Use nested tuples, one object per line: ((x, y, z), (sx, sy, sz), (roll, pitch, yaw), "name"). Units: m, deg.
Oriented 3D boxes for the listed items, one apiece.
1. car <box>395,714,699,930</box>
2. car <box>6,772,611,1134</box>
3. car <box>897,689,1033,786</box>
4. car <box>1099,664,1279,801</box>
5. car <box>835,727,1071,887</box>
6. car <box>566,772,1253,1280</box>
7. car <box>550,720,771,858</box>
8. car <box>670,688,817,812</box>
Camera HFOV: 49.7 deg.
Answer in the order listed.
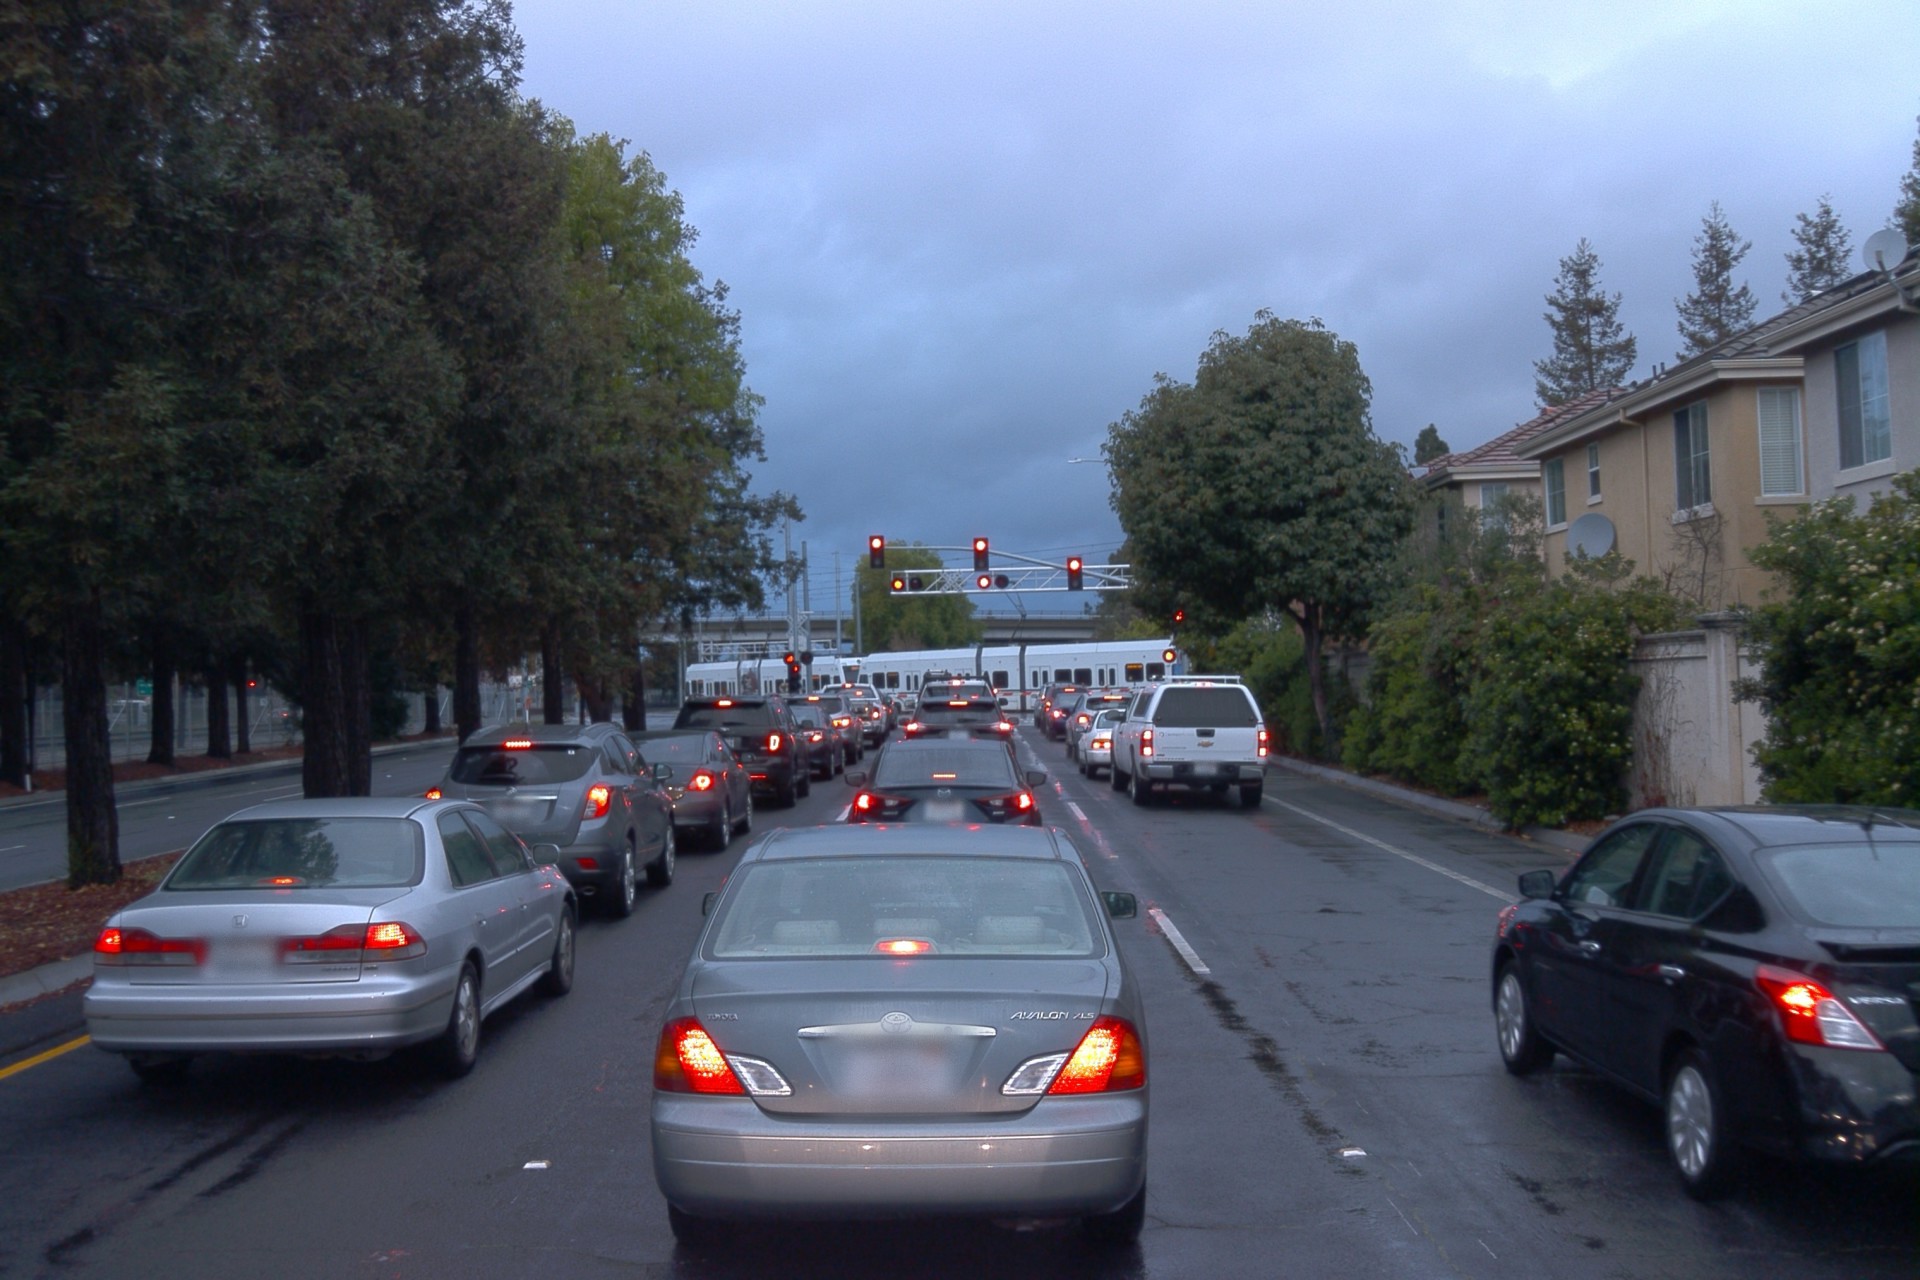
((-3.668, 1.572, 19.167), (1.936, 1.700, 4.080), (0, -1, 1), "car")
((-3.462, 1.616, 12.057), (2.021, 1.480, 4.541), (0, -1, 1), "car")
((0.044, 1.661, 36.367), (2.231, 1.560, 4.585), (0, -1, -1), "car")
((3.623, 1.436, 34.007), (2.216, 2.050, 5.937), (0, -1, -1), "car")
((-0.119, 1.568, 20.585), (2.081, 1.290, 4.552), (0, -1, -1), "car")
((-0.186, 1.441, 8.706), (2.105, 1.550, 4.676), (0, -1, -1), "car")
((-3.598, 1.776, 25.772), (2.021, 1.460, 4.541), (0, -1, 1), "car")
((-3.393, 1.700, 33.288), (2.021, 1.810, 4.543), (0, -1, -2), "car")
